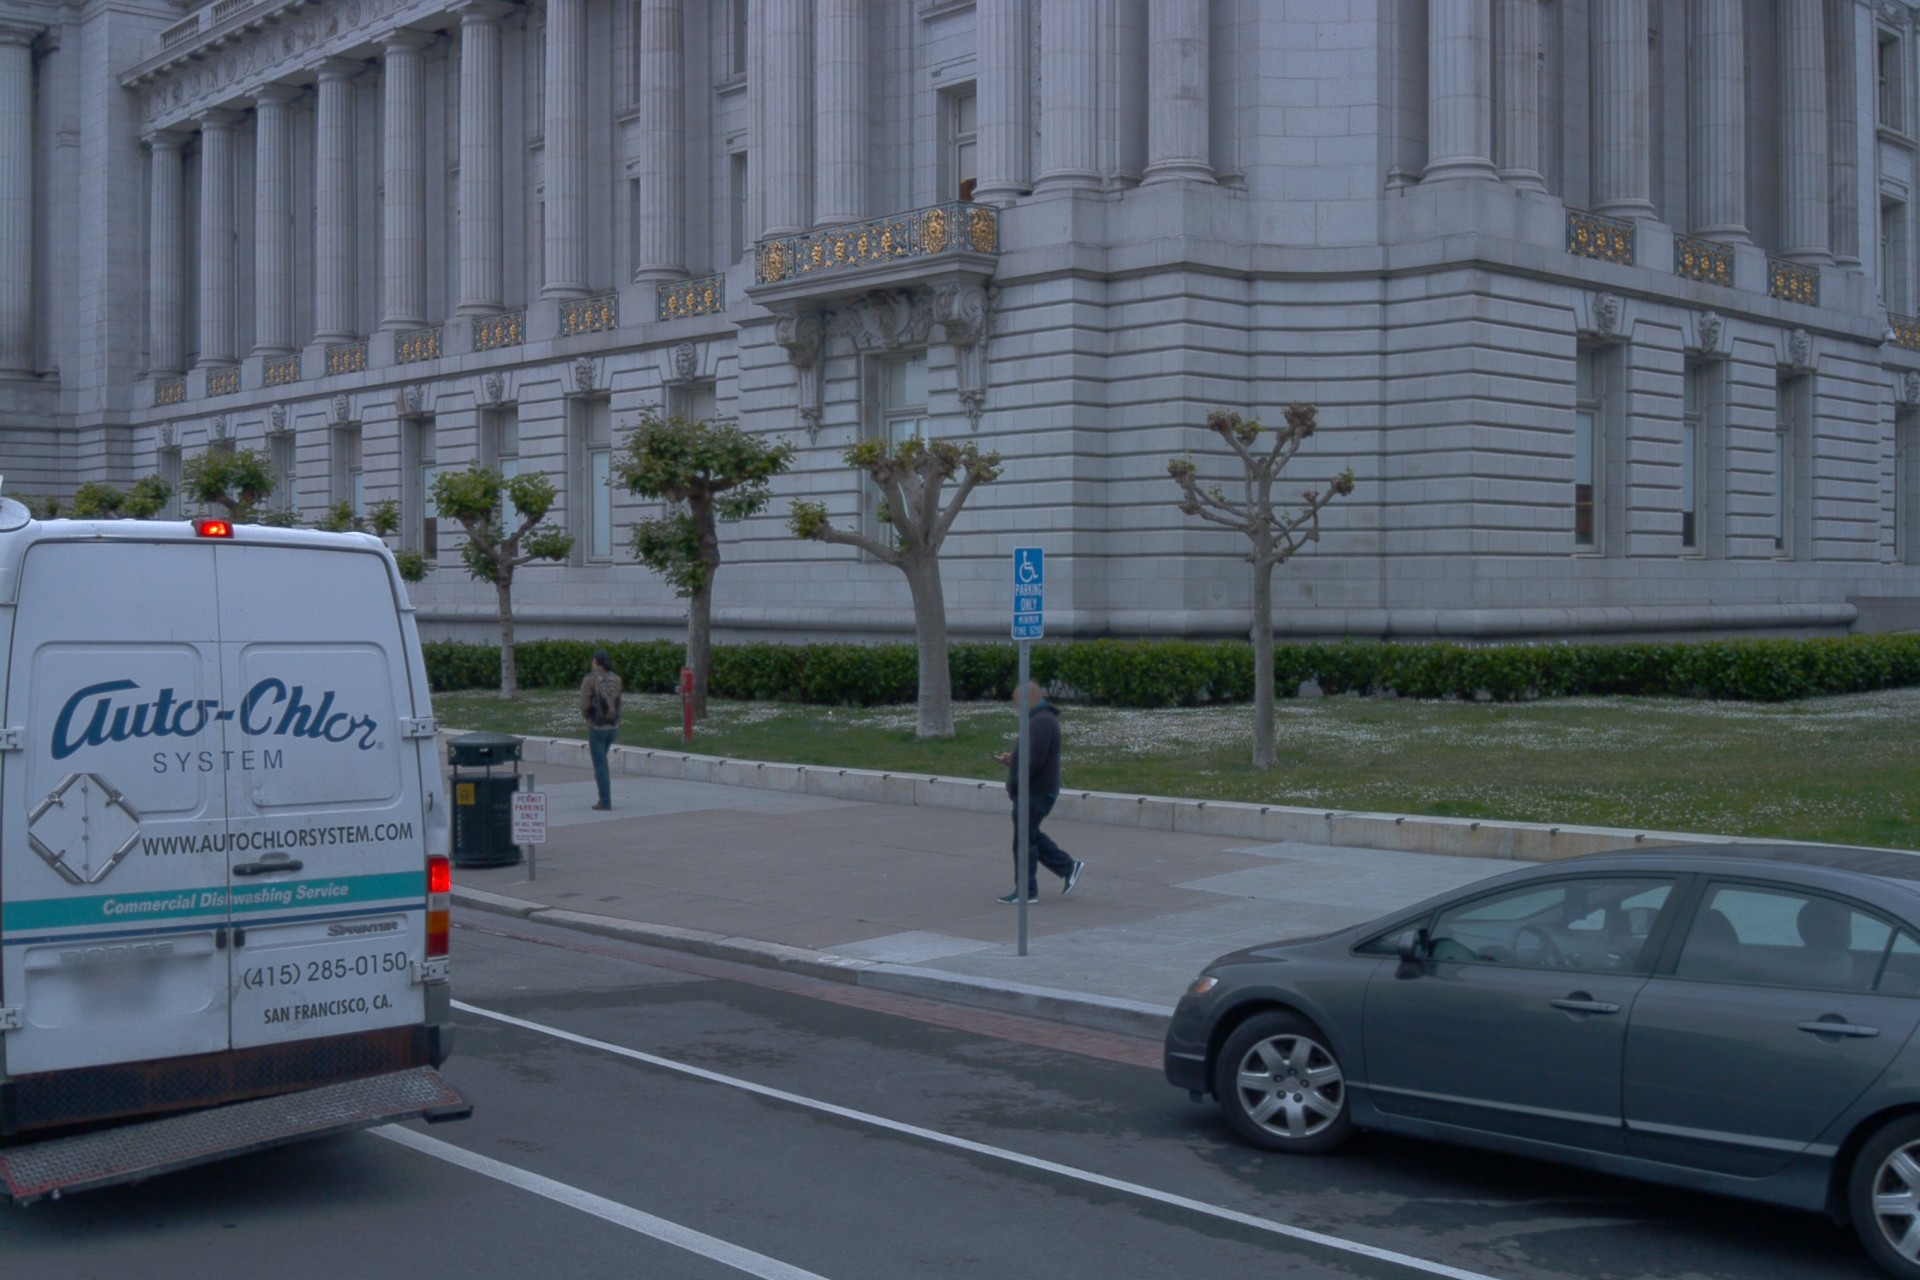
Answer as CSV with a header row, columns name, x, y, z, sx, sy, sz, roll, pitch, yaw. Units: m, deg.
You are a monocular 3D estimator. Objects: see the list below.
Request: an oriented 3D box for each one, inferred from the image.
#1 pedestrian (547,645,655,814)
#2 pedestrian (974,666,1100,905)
name,x,y,z,sx,sy,sz,roll,pitch,yaw
pedestrian,-3.971,0.964,22.829,0.736,1.815,1.004,-1,1,-44
pedestrian,0.602,1.087,15.792,0.917,1.757,0.759,0,1,6
